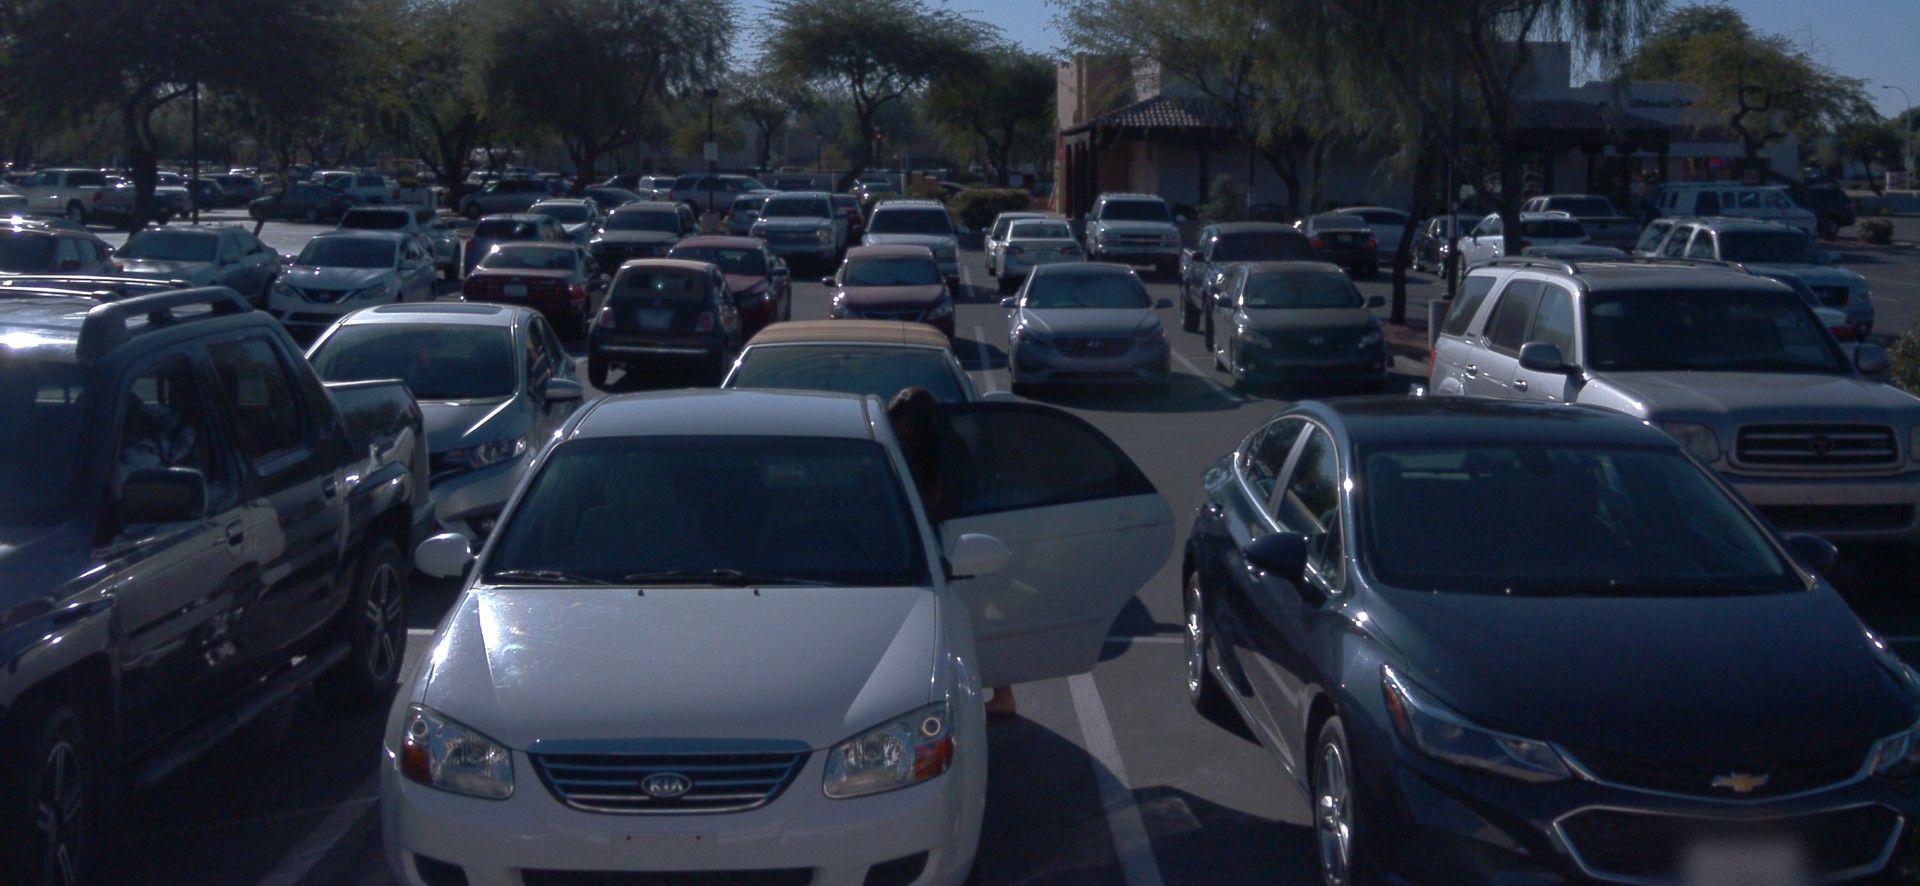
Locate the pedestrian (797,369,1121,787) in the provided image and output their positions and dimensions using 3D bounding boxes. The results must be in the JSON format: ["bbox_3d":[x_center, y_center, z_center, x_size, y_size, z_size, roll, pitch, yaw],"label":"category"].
[{"bbox_3d":[0.002,0.488,8.501,0.938,1.488,0.935,2,3,38],"label":"pedestrian"}]

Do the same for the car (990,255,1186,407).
[{"bbox_3d":[1.481,-1.475,25.656,2.180,1.602,4.850,1,6,1],"label":"car"}]

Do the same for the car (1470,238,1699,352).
[{"bbox_3d":[9.395,-2.318,31.622,2.127,1.553,4.506,1,6,0],"label":"car"}]

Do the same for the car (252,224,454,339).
[{"bbox_3d":[-9.098,-2.508,31.491,2.012,1.583,4.469,0,5,-4],"label":"car"}]

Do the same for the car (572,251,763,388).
[{"bbox_3d":[-3.623,-1.624,26.276,1.730,1.533,3.844,1,5,2],"label":"car"}]

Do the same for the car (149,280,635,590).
[{"bbox_3d":[-3.494,-0.202,13.642,2.093,1.593,4.136,1,5,-1],"label":"car"}]

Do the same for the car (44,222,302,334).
[{"bbox_3d":[-11.772,-2.564,31.409,2.117,1.543,4.608,1,6,0],"label":"car"}]

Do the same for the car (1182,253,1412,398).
[{"bbox_3d":[4.050,-1.531,25.719,2.083,1.543,4.564,1,6,0],"label":"car"}]

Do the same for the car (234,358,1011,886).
[{"bbox_3d":[-0.890,0.581,7.674,2.017,1.473,4.510,1,6,0],"label":"car"}]

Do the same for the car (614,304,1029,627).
[{"bbox_3d":[-0.780,-0.038,13.181,2.145,1.483,4.757,0,6,-2],"label":"car"}]

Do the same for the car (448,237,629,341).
[{"bbox_3d":[-6.391,-2.415,31.908,1.906,1.433,4.261,1,6,0],"label":"car"}]

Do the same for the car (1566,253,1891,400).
[{"bbox_3d":[9.454,-1.551,26.060,2.256,1.562,5.127,1,6,1],"label":"car"}]

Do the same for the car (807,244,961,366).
[{"bbox_3d":[-1.040,-2.098,30.642,2.010,1.593,4.474,1,5,1],"label":"car"}]

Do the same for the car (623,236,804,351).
[{"bbox_3d":[-3.662,-2.354,31.696,2.086,1.562,4.912,1,6,1],"label":"car"}]

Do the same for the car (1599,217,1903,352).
[{"bbox_3d":[12.084,-2.535,32.183,2.482,1.891,5.236,0,5,-3],"label":"car"}]

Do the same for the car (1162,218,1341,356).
[{"bbox_3d":[4.334,-2.461,31.675,2.086,1.901,5.341,1,5,1],"label":"car"}]
